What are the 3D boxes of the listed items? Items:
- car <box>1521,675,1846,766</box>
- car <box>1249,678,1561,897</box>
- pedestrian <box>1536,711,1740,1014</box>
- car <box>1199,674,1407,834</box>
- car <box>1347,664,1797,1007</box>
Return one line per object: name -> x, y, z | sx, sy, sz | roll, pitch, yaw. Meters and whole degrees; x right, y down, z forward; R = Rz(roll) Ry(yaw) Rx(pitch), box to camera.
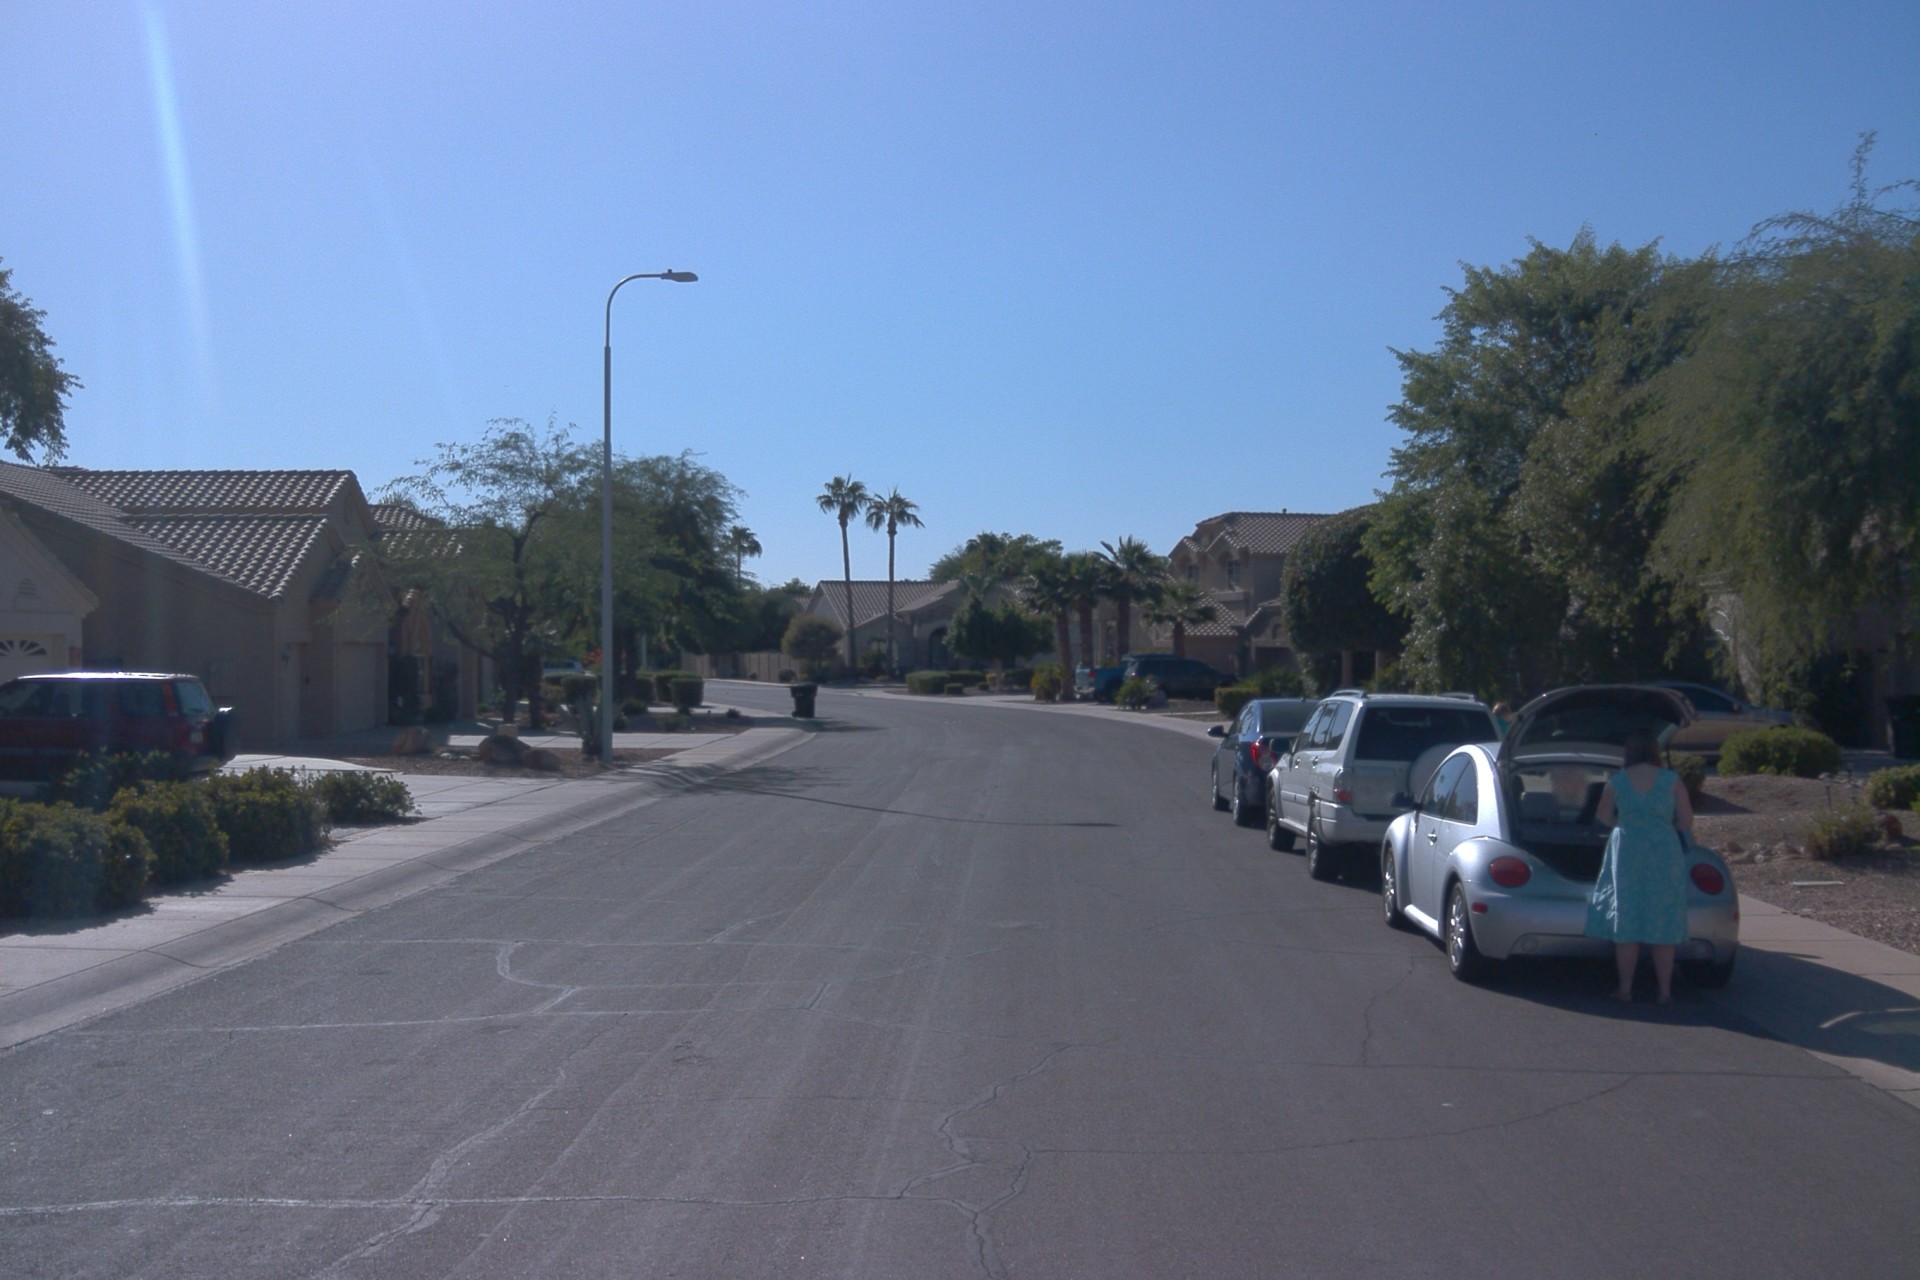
car -> 12.151, 1.341, 35.246 | 4.761, 1.460, 2.091 | 0, 0, 0
car -> 4.082, 1.286, 19.973 | 2.103, 1.780, 4.807 | 0, 0, 2
pedestrian -> 3.963, 1.276, 12.252 | 0.906, 1.690, 0.869 | 0, 0, -1
car -> 4.133, 1.323, 25.801 | 1.994, 1.750, 4.476 | 0, 0, 2
car -> 3.957, 1.168, 14.213 | 1.895, 1.980, 4.012 | 0, 0, 0
